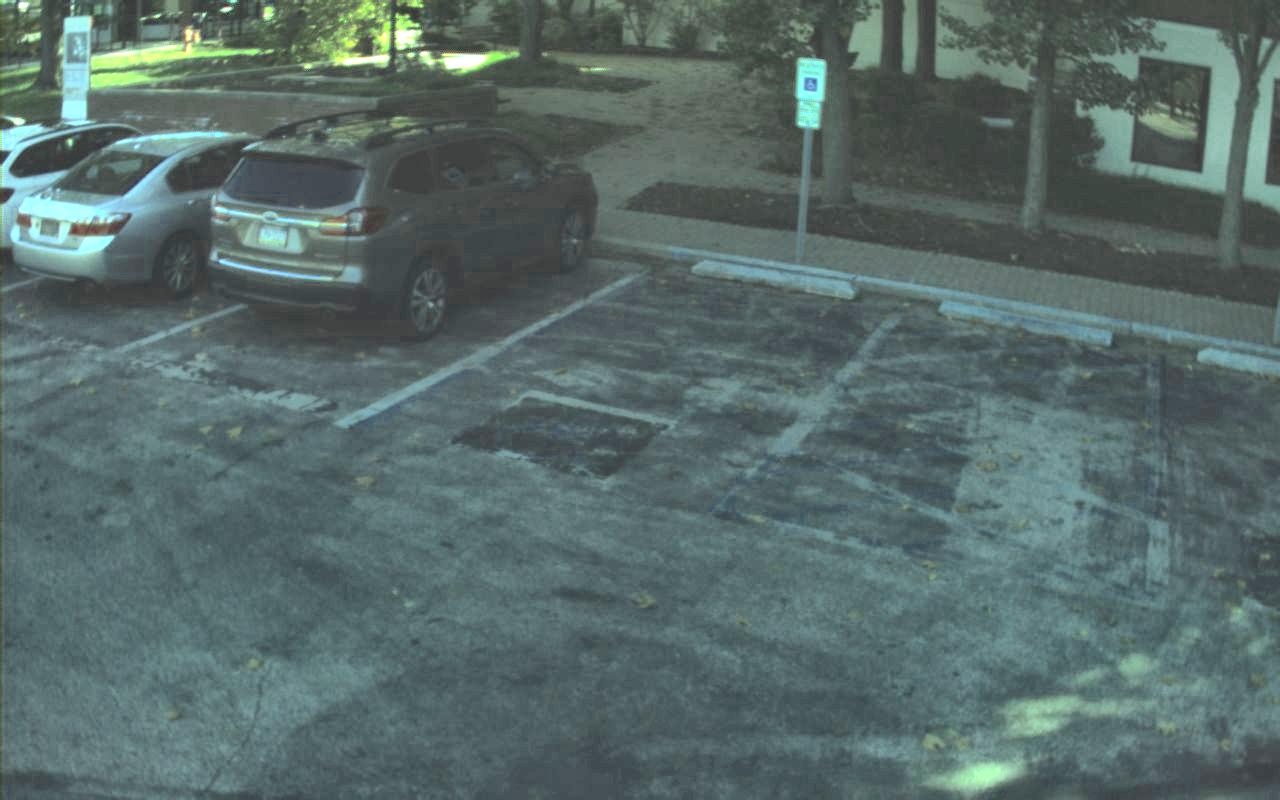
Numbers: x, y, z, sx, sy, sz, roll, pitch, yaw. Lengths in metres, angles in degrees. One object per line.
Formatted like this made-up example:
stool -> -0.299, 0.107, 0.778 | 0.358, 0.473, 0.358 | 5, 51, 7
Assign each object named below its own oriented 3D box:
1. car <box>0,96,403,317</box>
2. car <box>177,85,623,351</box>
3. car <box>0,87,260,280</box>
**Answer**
car -> -4.626, -2.186, 12.531 | 1.929, 1.575, 4.530 | 7, 18, 26
car -> -2.038, -1.961, 11.751 | 2.016, 1.755, 4.768 | 6, 18, 22
car -> -6.787, -2.715, 13.895 | 1.949, 1.617, 4.466 | 6, 18, 24
